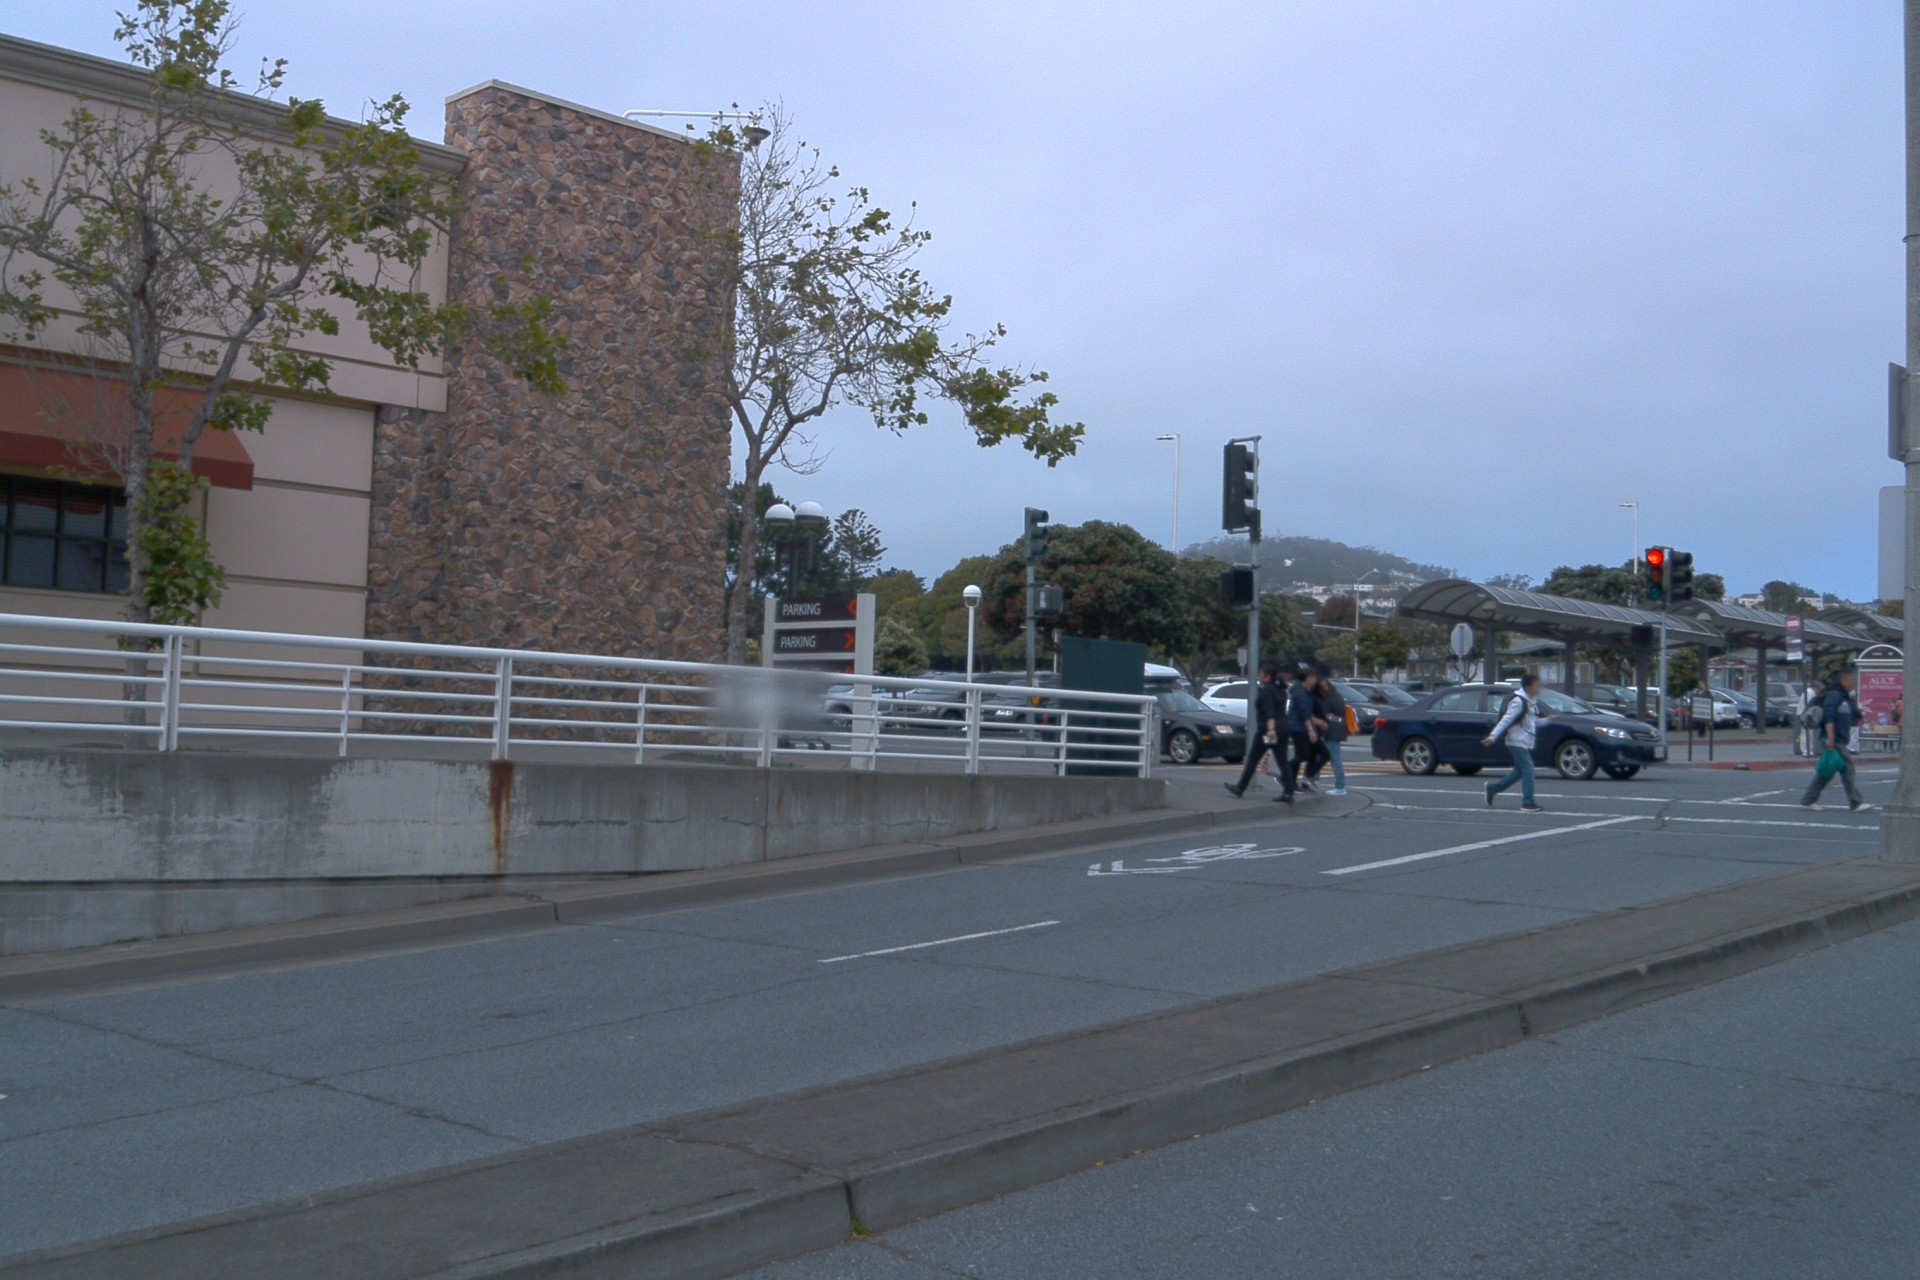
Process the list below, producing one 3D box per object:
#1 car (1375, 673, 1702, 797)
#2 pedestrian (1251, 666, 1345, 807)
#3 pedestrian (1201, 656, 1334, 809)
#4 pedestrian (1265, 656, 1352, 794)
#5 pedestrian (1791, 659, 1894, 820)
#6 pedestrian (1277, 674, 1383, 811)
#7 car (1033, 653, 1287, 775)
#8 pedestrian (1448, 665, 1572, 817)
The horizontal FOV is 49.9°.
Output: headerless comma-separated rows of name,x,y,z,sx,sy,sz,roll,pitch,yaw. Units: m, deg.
car,8.817,1.395,31.693,4.437,1.650,1.948,1,1,43
pedestrian,4.113,1.156,25.067,0.993,1.650,0.667,0,1,23
pedestrian,3.542,1.031,23.731,1.121,1.670,1.227,0,1,31
pedestrian,4.311,1.033,25.532,0.962,1.660,0.601,0,1,20
pedestrian,9.743,1.076,22.783,0.938,1.720,0.670,0,1,33
pedestrian,4.801,1.305,26.757,1.080,1.690,0.926,0,1,32
car,3.583,1.282,37.537,4.359,2.000,1.881,1,1,43
pedestrian,6.317,1.135,23.708,1.048,1.670,0.929,1,1,43
